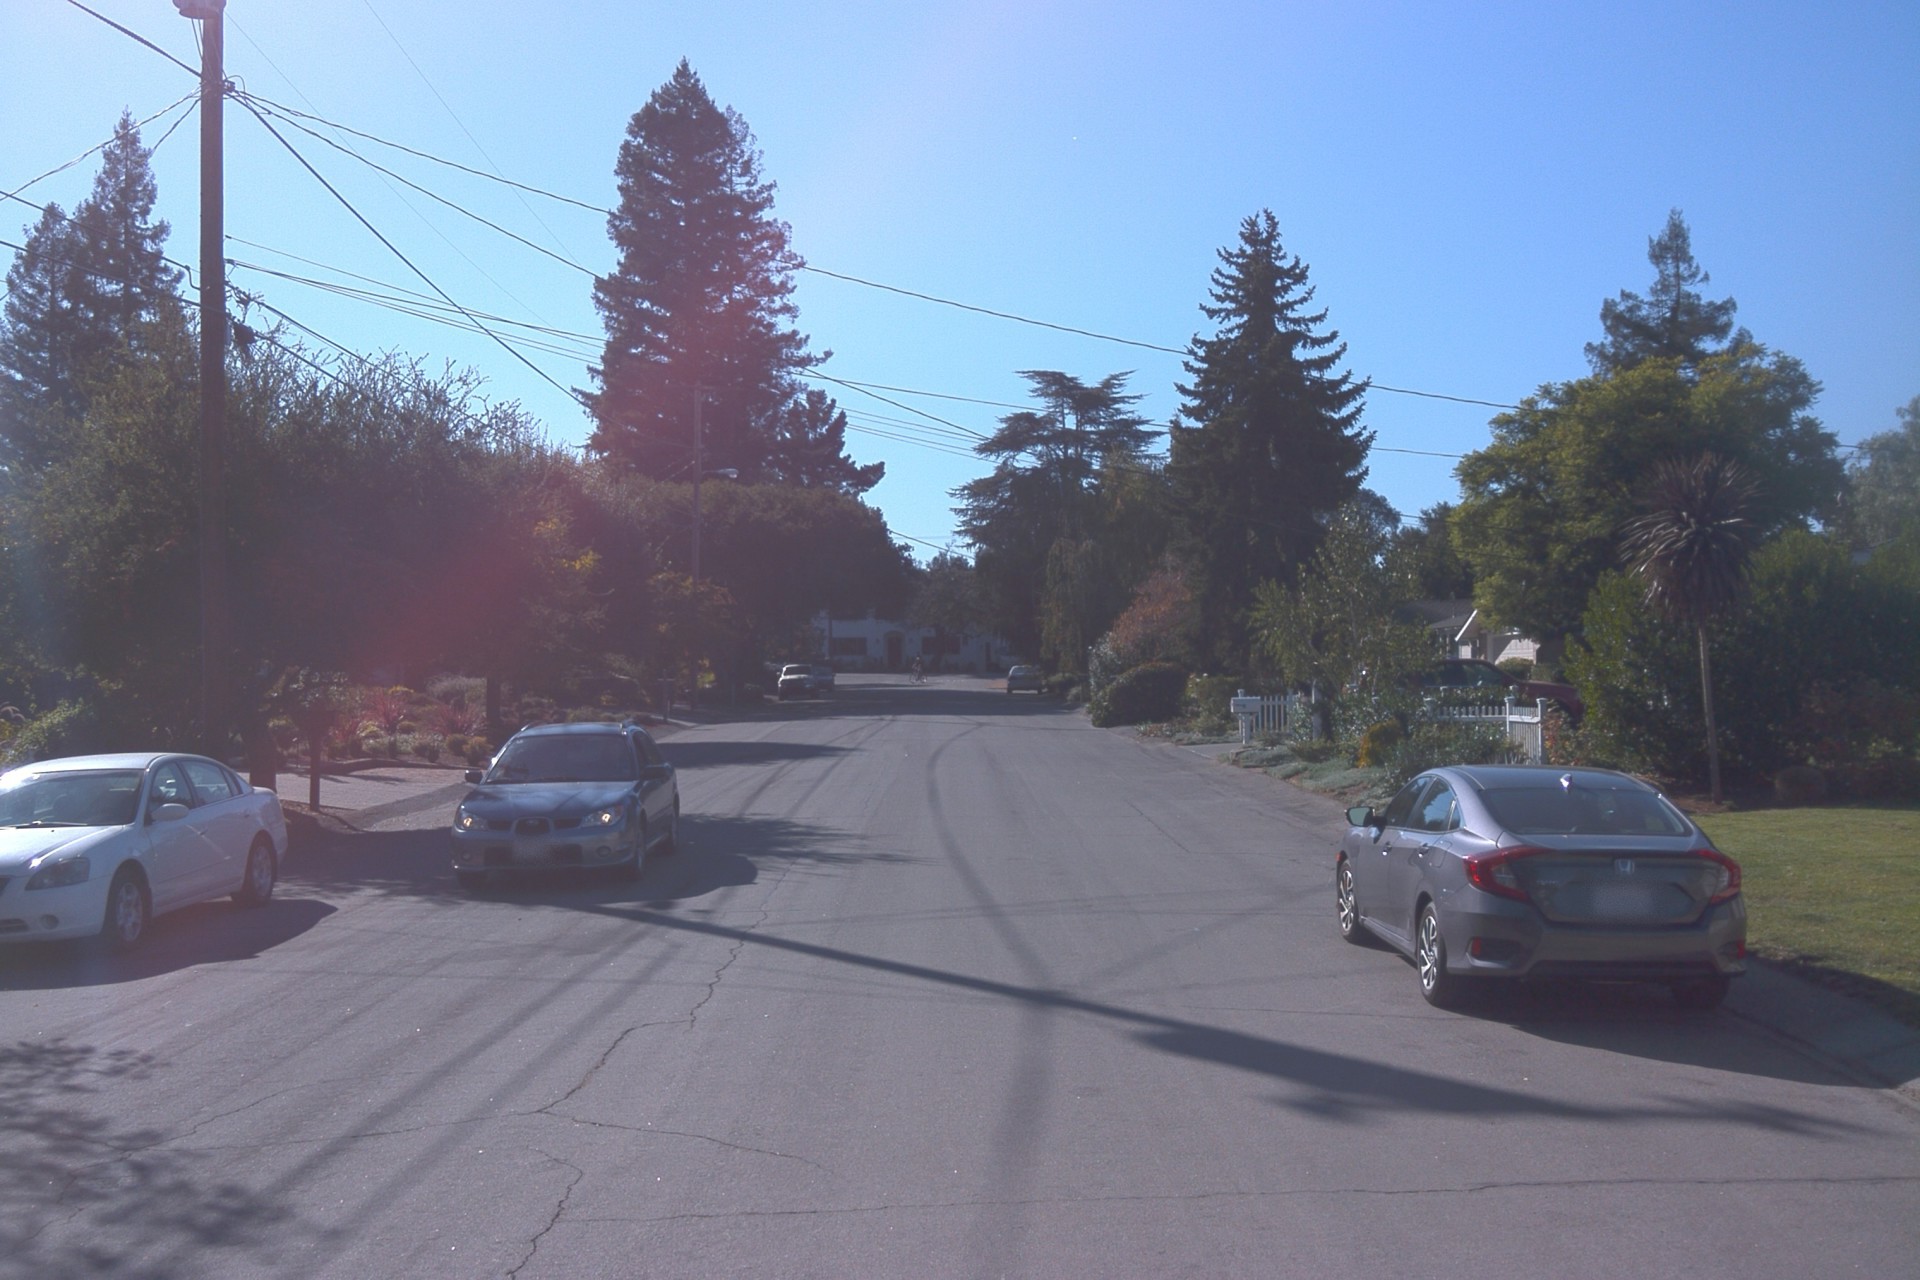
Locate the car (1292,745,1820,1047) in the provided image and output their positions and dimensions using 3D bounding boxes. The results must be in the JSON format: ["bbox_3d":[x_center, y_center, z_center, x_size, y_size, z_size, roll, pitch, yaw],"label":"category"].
[{"bbox_3d":[3.641,1.520,13.704,2.130,1.460,4.738,0,-1,0],"label":"car"}]

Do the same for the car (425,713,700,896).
[{"bbox_3d":[-3.846,1.555,20.808,1.989,1.520,4.441,0,-1,-1],"label":"car"}]
